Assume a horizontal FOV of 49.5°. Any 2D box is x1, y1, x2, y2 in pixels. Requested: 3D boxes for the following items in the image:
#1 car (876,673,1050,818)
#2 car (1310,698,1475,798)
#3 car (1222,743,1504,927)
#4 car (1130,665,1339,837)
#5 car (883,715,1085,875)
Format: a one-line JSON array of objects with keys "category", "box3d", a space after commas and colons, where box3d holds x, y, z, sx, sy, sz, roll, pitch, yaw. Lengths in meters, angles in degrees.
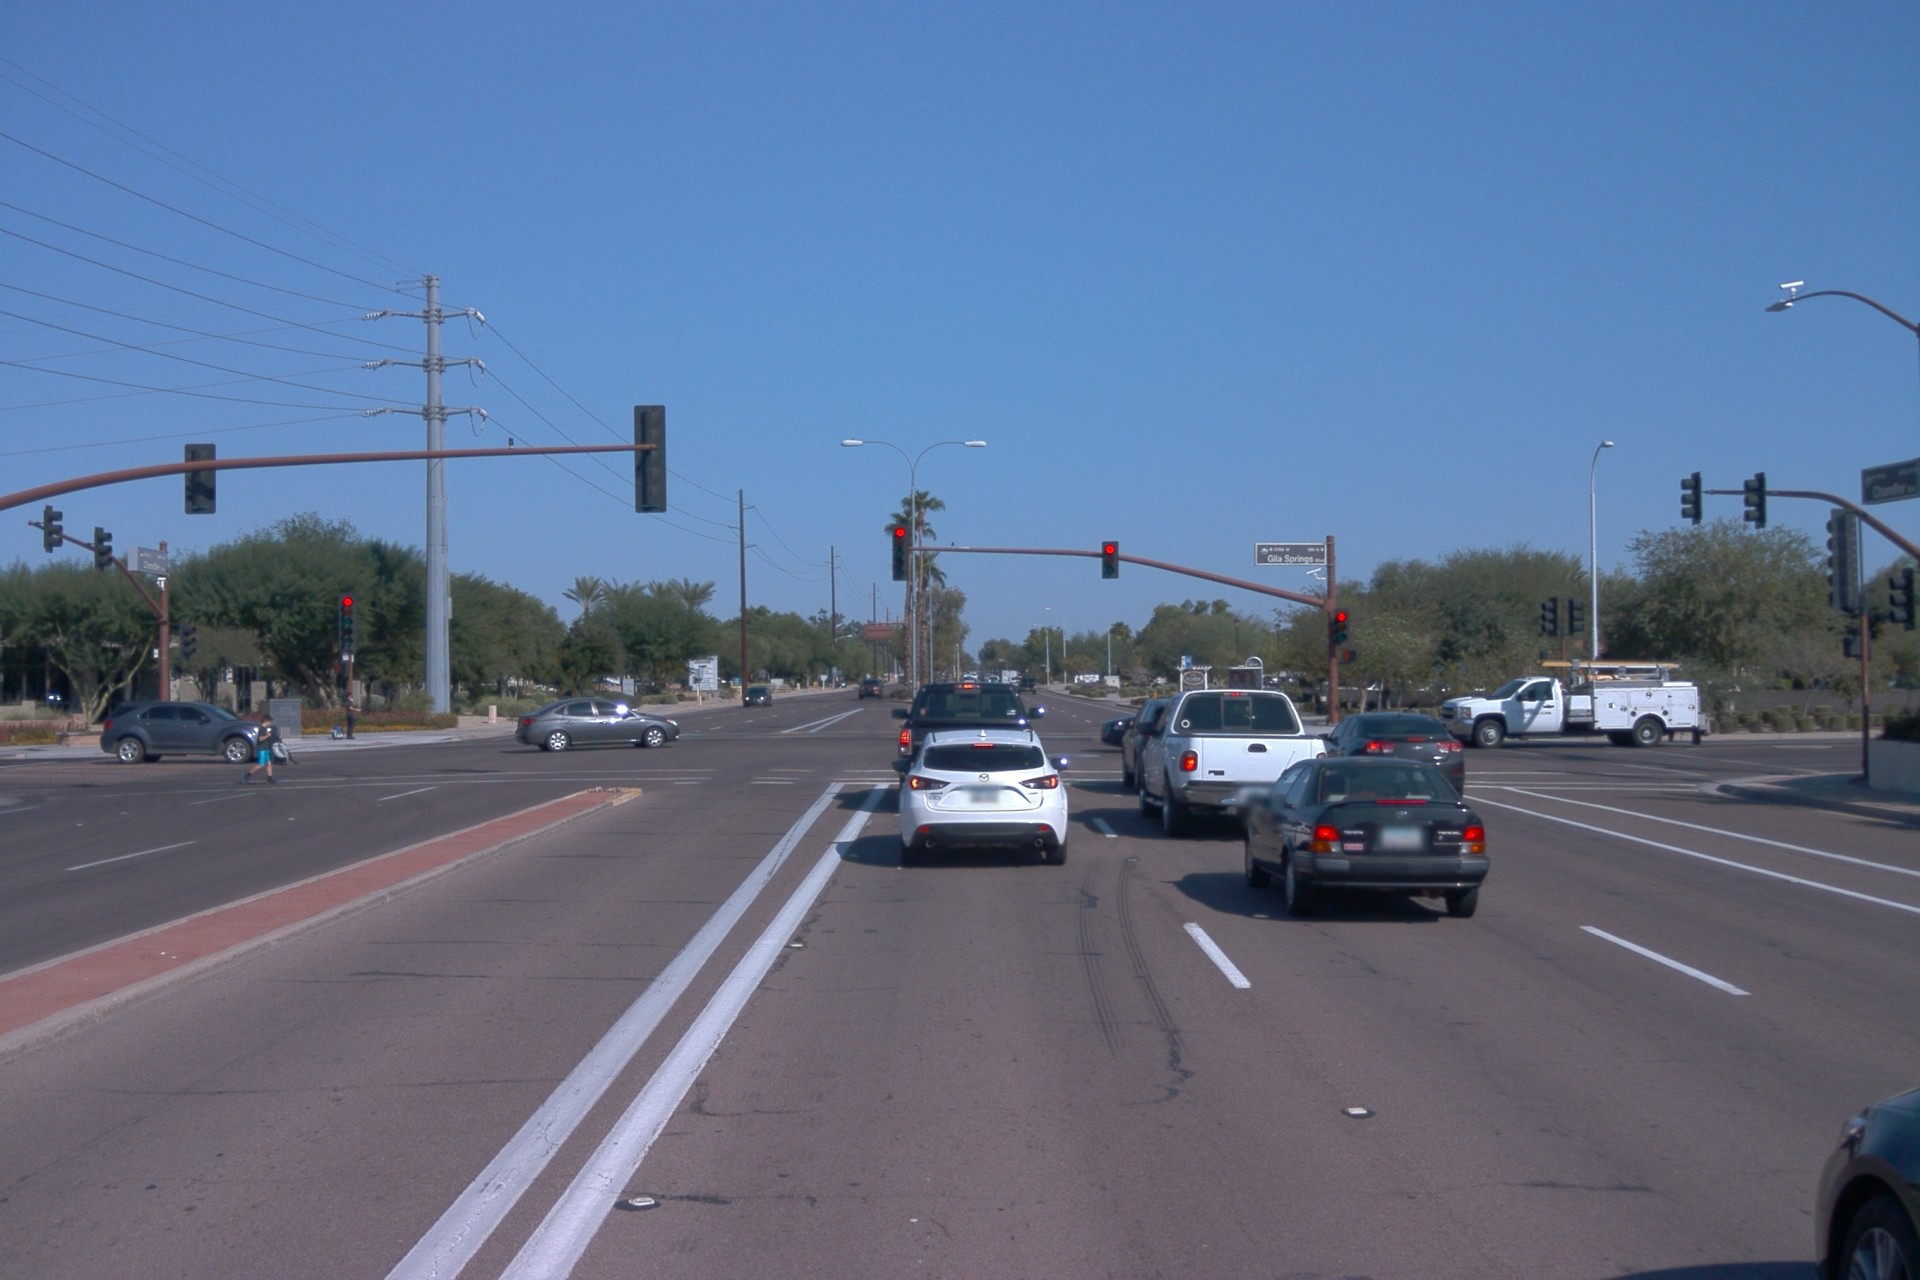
[{"category": "car", "box3d": [0.146, 1.578, 32.438, 2.500, 2.080, 5.001, 0, -1, 2]}, {"category": "car", "box3d": [7.074, 1.733, 34.466, 1.828, 1.540, 4.447, 0, -1, 0]}, {"category": "car", "box3d": [3.544, 1.694, 19.039, 1.735, 1.400, 4.161, 0, -1, 0]}, {"category": "car", "box3d": [3.533, 1.414, 27.845, 2.073, 2.070, 5.518, 0, -1, 0]}, {"category": "car", "box3d": [0.284, 1.688, 23.871, 2.099, 1.600, 4.628, 0, -1, 1]}]
